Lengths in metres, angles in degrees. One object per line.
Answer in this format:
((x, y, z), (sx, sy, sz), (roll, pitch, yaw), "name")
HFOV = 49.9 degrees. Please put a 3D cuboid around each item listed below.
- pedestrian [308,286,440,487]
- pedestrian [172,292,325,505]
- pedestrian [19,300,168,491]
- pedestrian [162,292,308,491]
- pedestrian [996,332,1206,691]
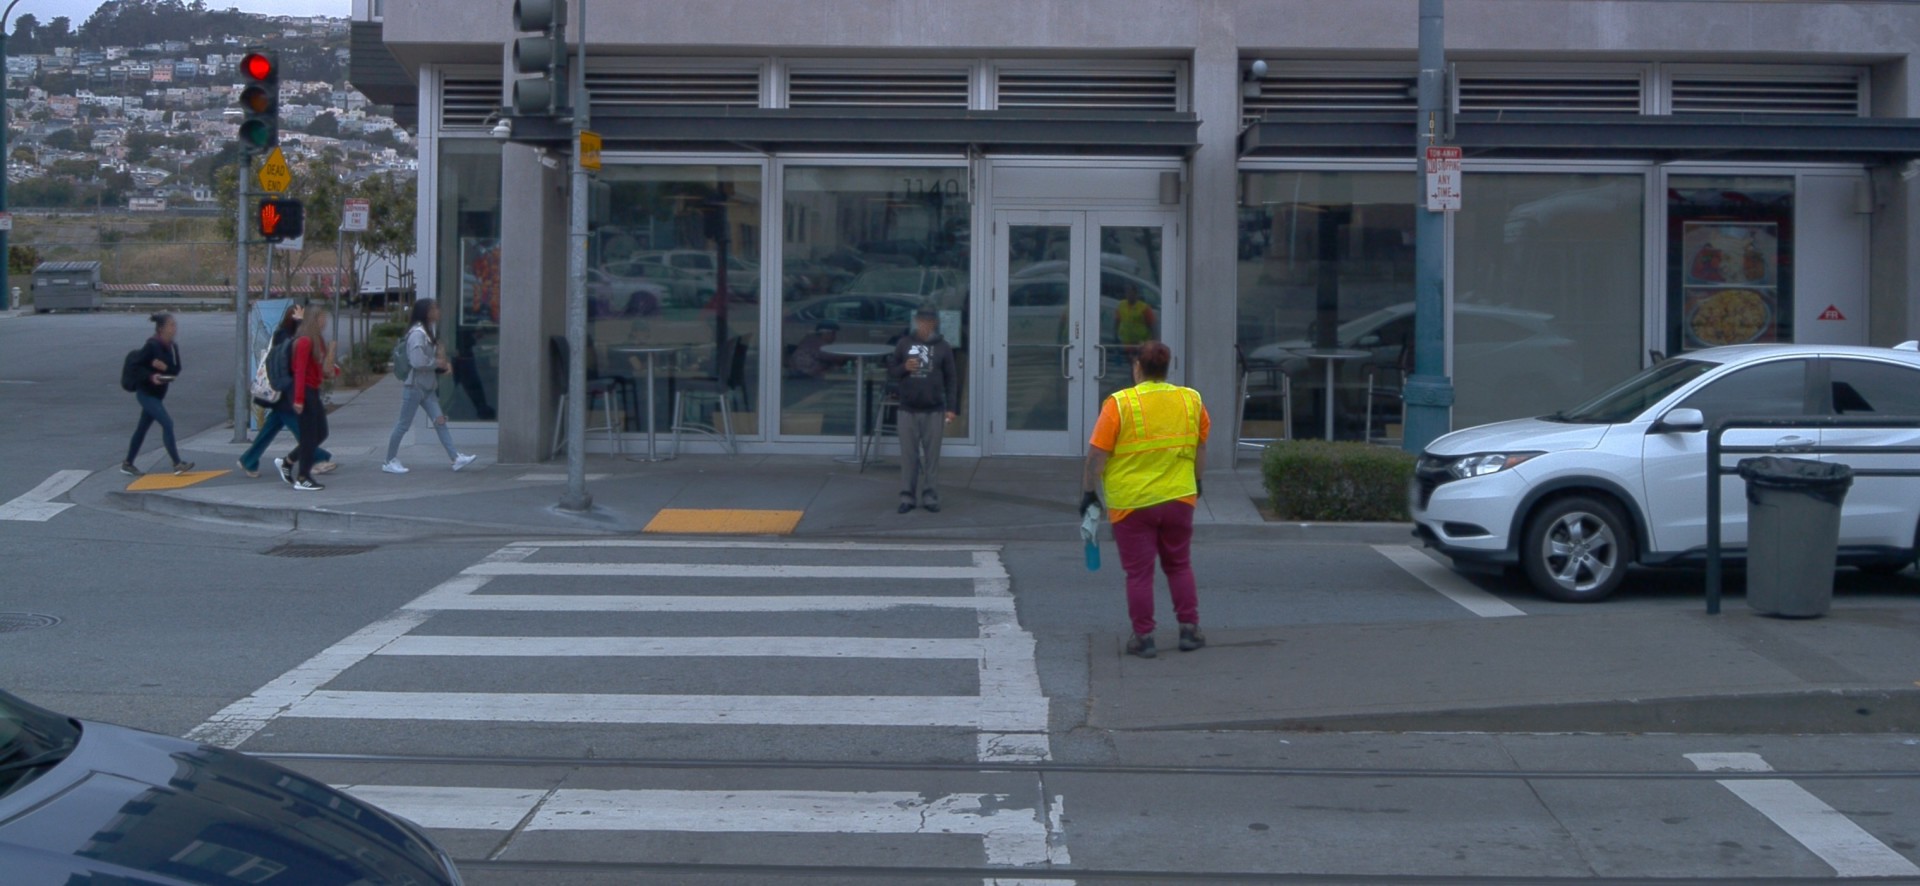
((-5.355, -0.534, 18.878), (0.927, 1.769, 0.778), (0, 2, 5), "pedestrian")
((-6.070, -0.403, 17.634), (0.978, 1.727, 0.892), (0, 2, 0), "pedestrian")
((-8.221, -0.473, 19.602), (0.985, 1.727, 0.864), (0, 2, 7), "pedestrian")
((-6.604, -0.492, 18.815), (0.984, 1.729, 0.784), (0, 2, 10), "pedestrian")
((0.708, 0.312, 10.524), (0.899, 1.697, 0.702), (-1, 2, -13), "pedestrian")
